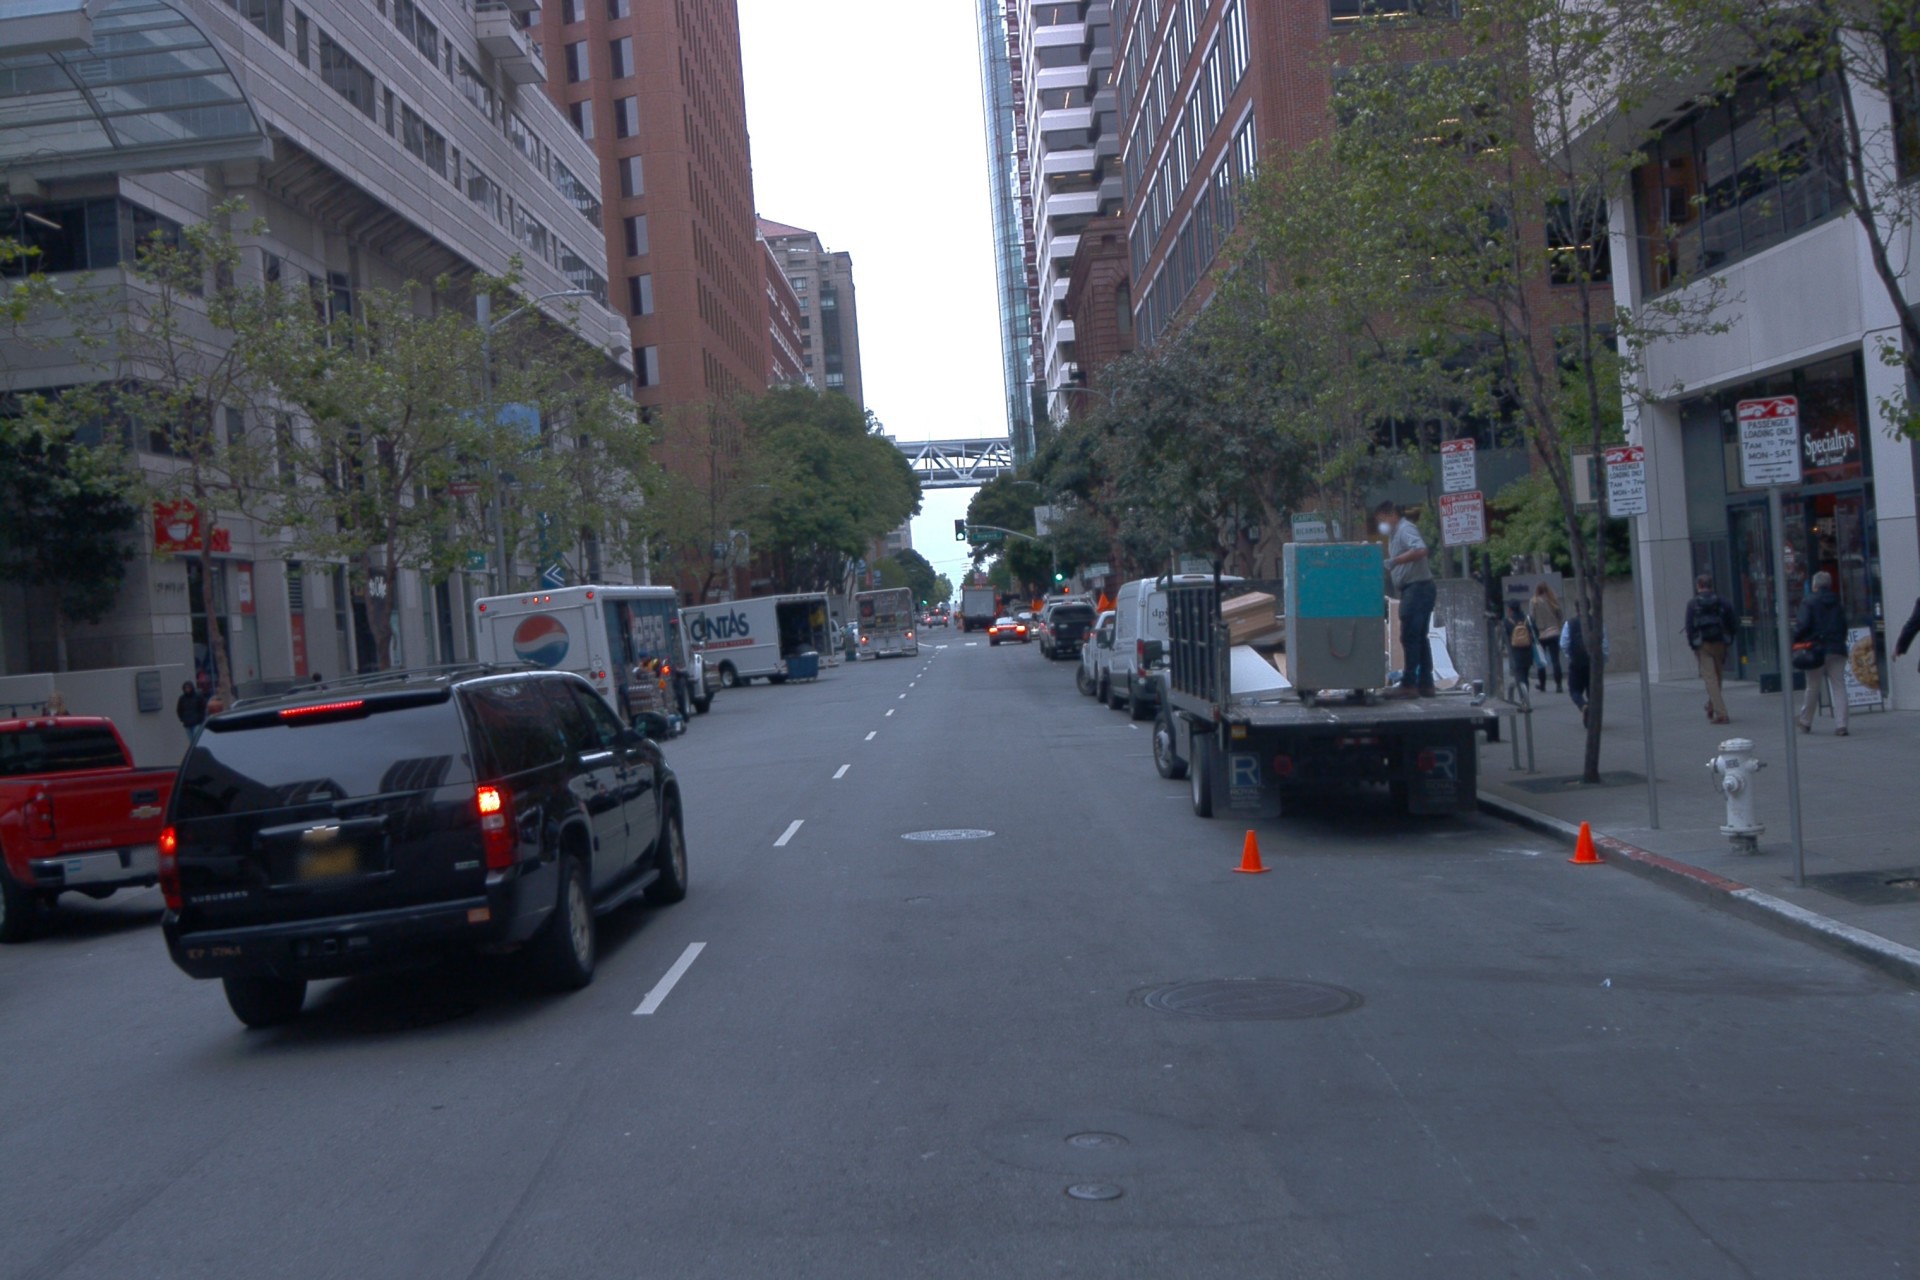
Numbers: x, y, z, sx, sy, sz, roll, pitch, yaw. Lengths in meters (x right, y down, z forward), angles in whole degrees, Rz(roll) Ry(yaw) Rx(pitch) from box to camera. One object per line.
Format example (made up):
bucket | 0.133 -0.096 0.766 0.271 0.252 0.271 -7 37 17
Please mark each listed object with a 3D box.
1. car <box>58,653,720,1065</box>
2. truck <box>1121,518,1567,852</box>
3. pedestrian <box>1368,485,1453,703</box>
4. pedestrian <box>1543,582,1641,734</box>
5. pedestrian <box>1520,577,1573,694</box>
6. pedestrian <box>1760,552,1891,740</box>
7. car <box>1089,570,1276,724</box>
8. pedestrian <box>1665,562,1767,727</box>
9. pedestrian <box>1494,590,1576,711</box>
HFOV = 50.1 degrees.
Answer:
car | -3.177 1.105 13.100 2.450 1.929 5.812 0 1 2
truck | 3.368 0.307 20.422 2.888 2.649 8.209 0 1 0
pedestrian | 3.827 -0.381 17.447 0.660 1.800 0.766 0 1 16
pedestrian | 7.634 0.206 24.883 0.894 1.804 1.017 0 1 2
pedestrian | 9.095 -0.066 31.900 0.655 1.790 0.834 0 1 7
pedestrian | 8.909 0.055 21.201 0.934 1.880 1.072 0 1 3
car | 3.894 0.078 37.177 2.502 2.560 6.048 0 1 -2
pedestrian | 8.792 0.045 23.946 0.798 1.873 0.987 0 1 -2
pedestrian | 8.101 0.138 28.990 0.941 1.675 0.944 0 1 4
